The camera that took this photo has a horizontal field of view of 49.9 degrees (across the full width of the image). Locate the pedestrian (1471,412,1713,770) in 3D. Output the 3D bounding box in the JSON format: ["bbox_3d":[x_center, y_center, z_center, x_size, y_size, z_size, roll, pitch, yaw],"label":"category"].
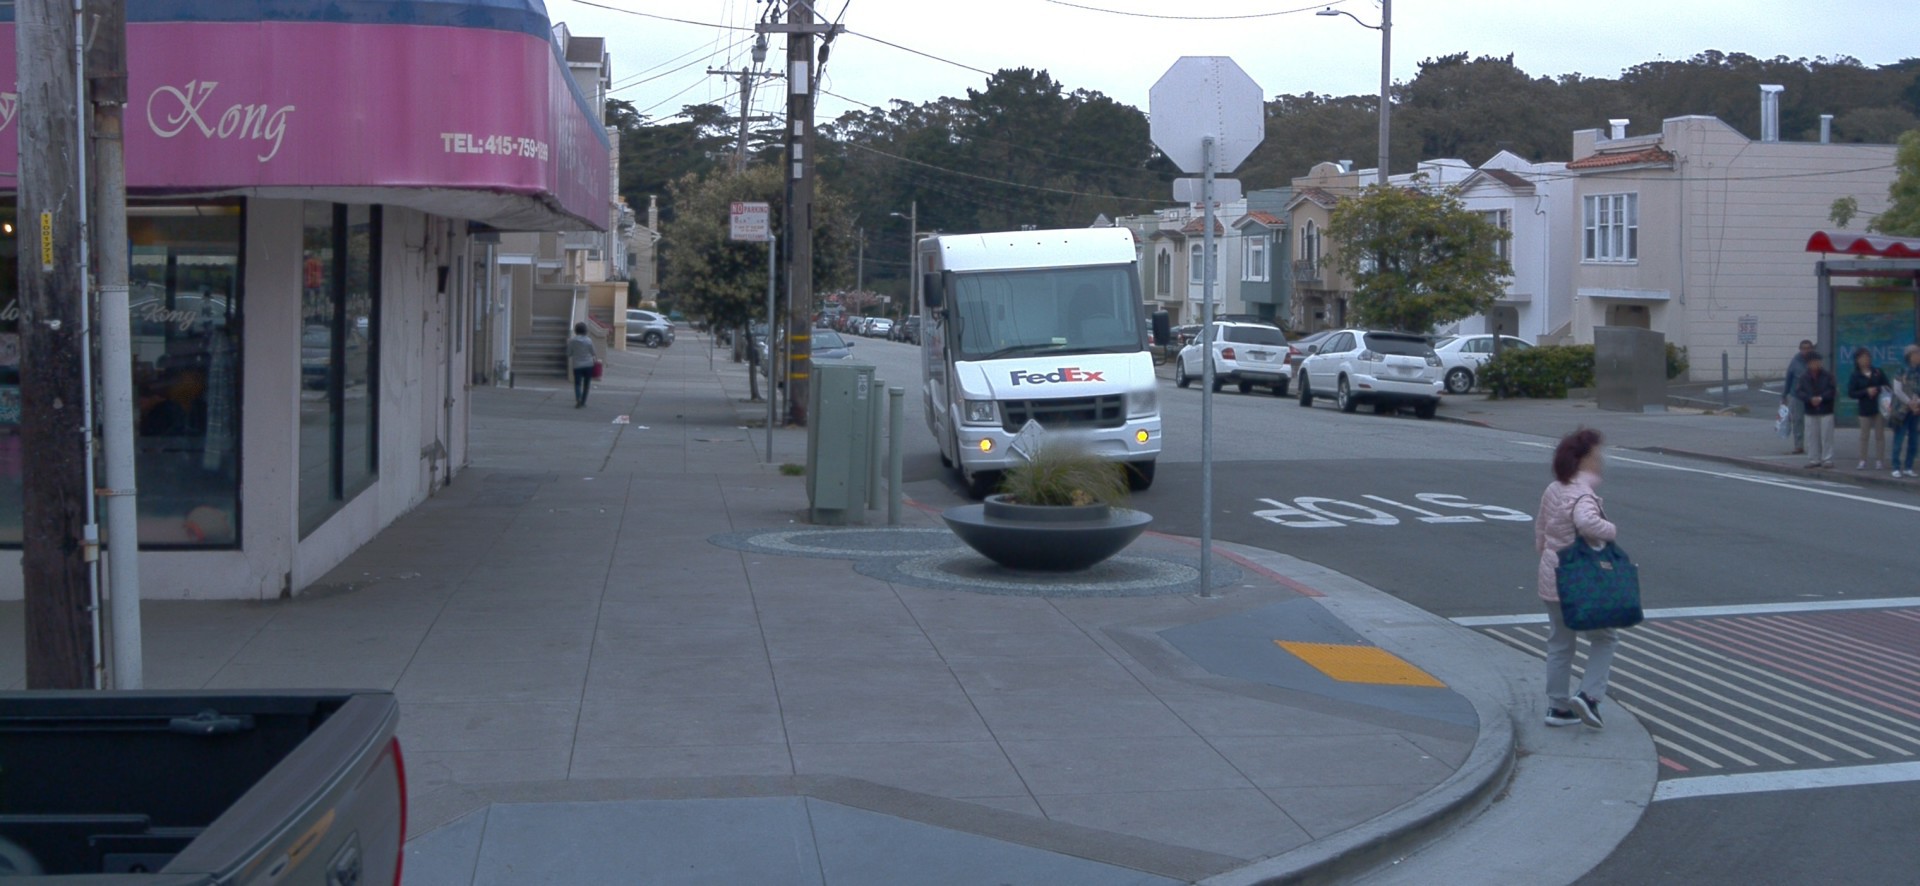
[{"bbox_3d":[3.010,0.653,9.805,0.907,1.476,0.857,1,3,32],"label":"pedestrian"}]

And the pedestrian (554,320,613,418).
[{"bbox_3d":[-6.711,-1.333,36.760,0.939,1.678,0.686,0,2,-3],"label":"pedestrian"}]

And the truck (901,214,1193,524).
[{"bbox_3d":[0.771,-1.148,24.252,2.689,3.011,7.384,-1,6,-3],"label":"truck"}]

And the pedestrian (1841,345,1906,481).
[{"bbox_3d":[11.597,-0.399,26.182,0.682,1.632,0.713,1,2,30],"label":"pedestrian"}]

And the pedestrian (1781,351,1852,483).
[{"bbox_3d":[11.110,-0.357,26.748,0.682,1.607,0.713,1,2,37],"label":"pedestrian"}]

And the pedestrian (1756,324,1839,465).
[{"bbox_3d":[11.842,-0.700,29.151,0.924,1.876,0.872,1,2,34],"label":"pedestrian"}]
